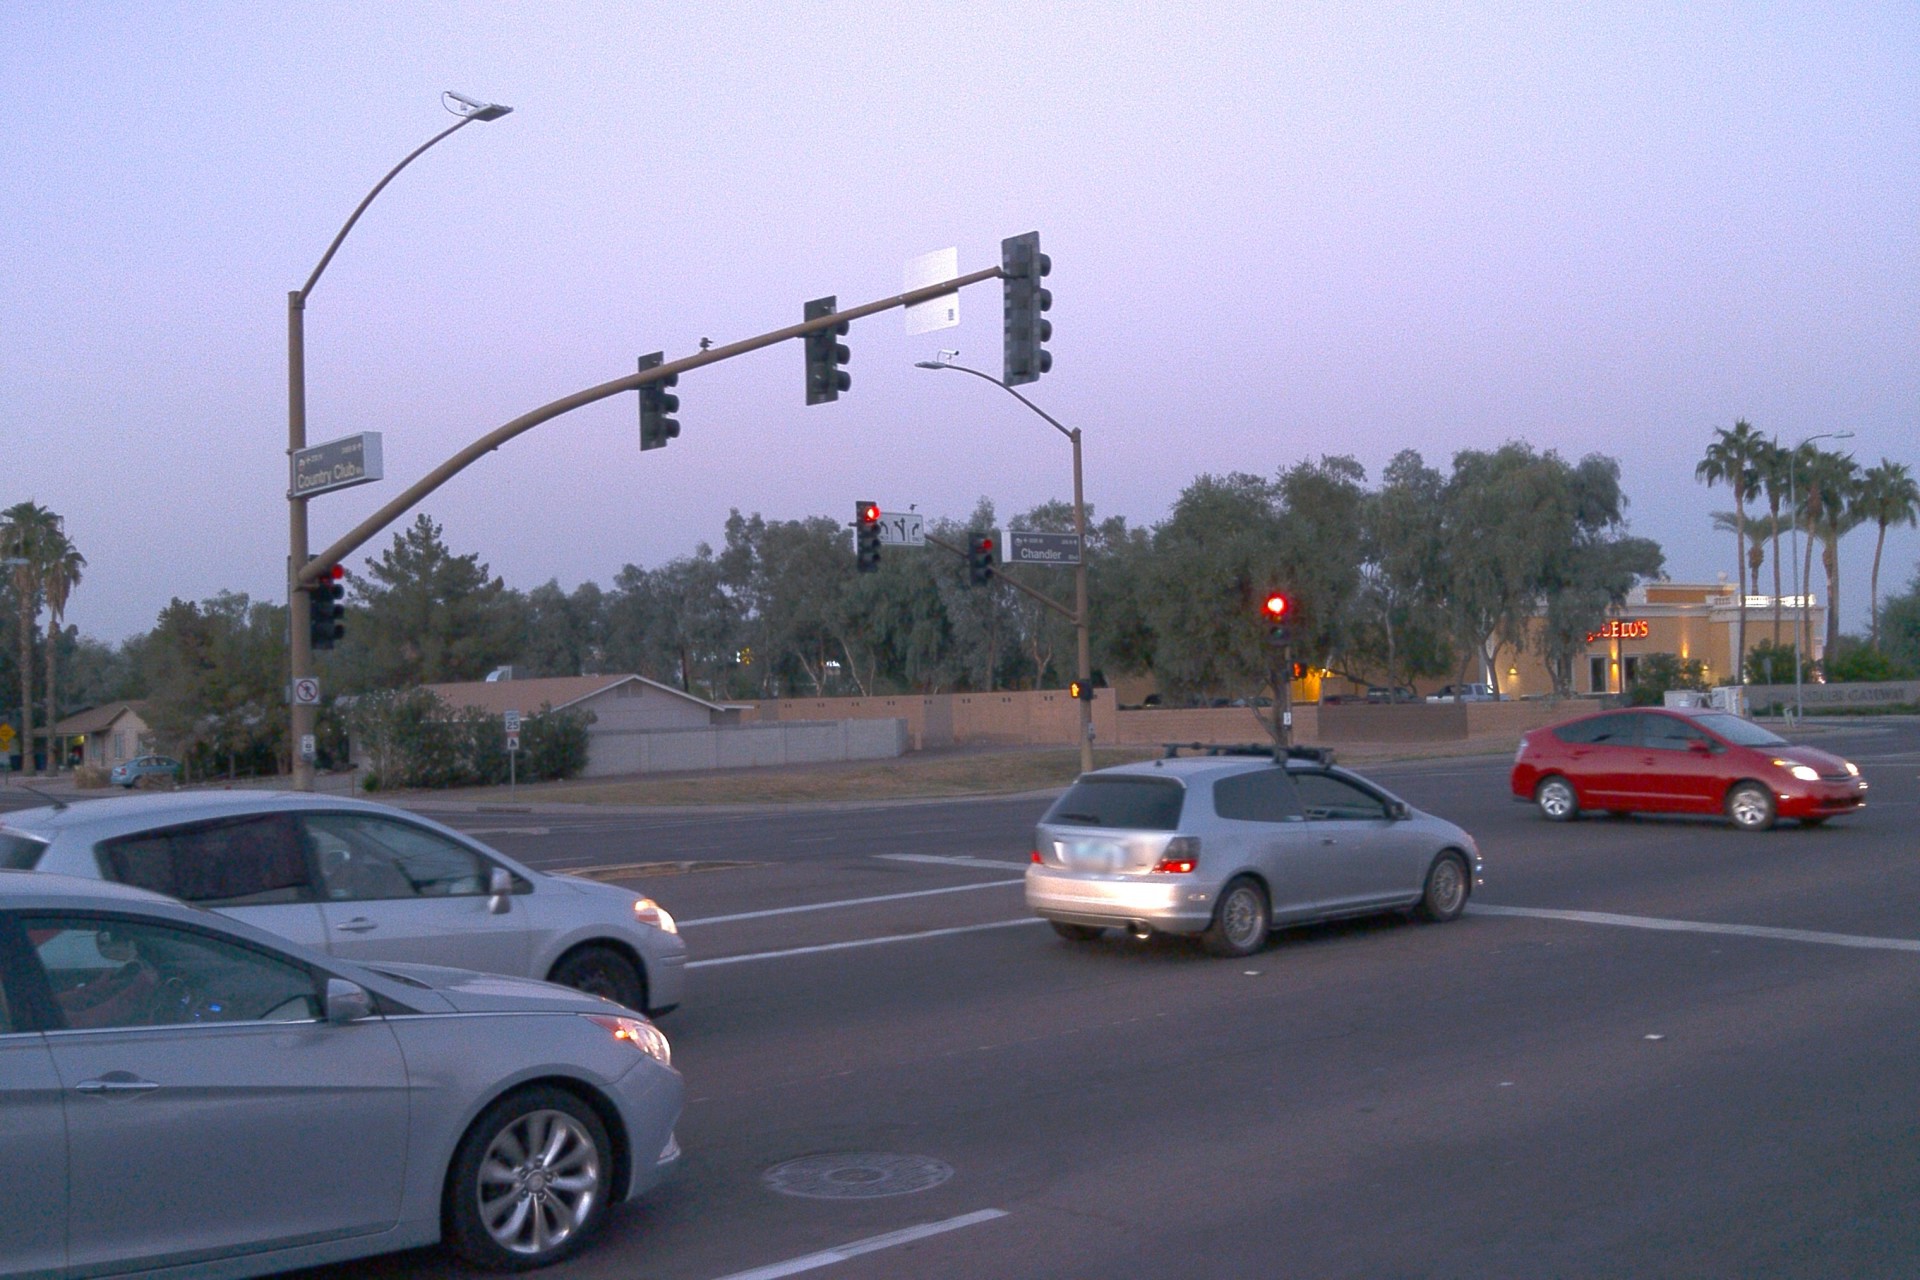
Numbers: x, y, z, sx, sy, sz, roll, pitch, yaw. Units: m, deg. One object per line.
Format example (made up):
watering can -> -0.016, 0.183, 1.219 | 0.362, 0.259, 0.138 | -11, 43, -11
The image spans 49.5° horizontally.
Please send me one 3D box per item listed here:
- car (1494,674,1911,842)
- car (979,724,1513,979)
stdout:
car -> 9.219, 1.394, 26.157 | 2.024, 1.900, 4.487 | 0, -1, -42
car -> 2.320, 1.515, 16.207 | 4.178, 1.580, 1.929 | 0, -1, -44
